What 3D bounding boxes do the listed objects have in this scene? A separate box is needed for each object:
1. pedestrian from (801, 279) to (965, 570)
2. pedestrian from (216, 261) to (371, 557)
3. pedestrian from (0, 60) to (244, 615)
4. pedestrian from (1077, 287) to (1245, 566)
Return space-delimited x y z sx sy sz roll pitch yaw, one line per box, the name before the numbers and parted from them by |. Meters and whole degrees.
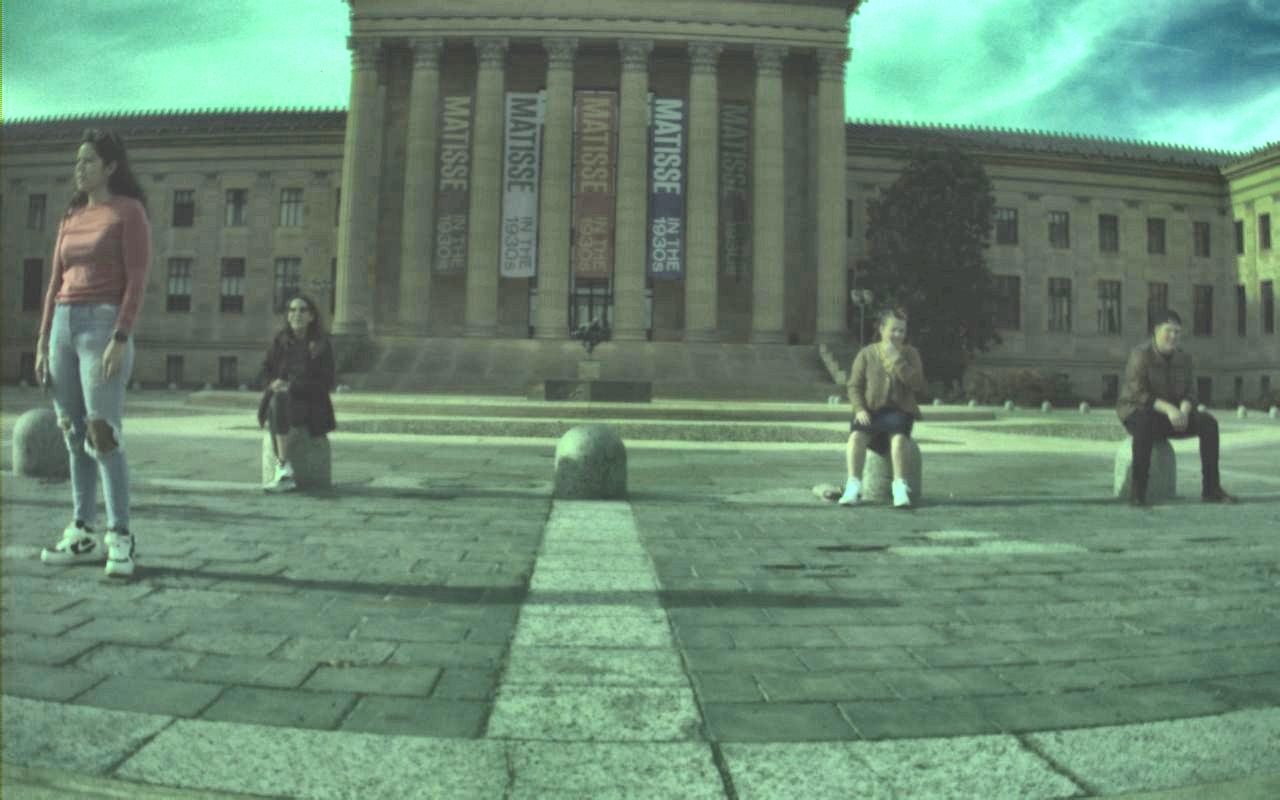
pedestrian | 1.534 0.143 7.919 0.815 1.745 0.817 0 0 -8
pedestrian | -2.181 0.048 7.689 0.818 1.766 0.817 0 0 -1
pedestrian | -1.970 -0.210 4.179 0.778 1.811 0.779 0 0 12
pedestrian | 3.493 0.175 7.849 0.839 1.753 0.841 0 0 -11
